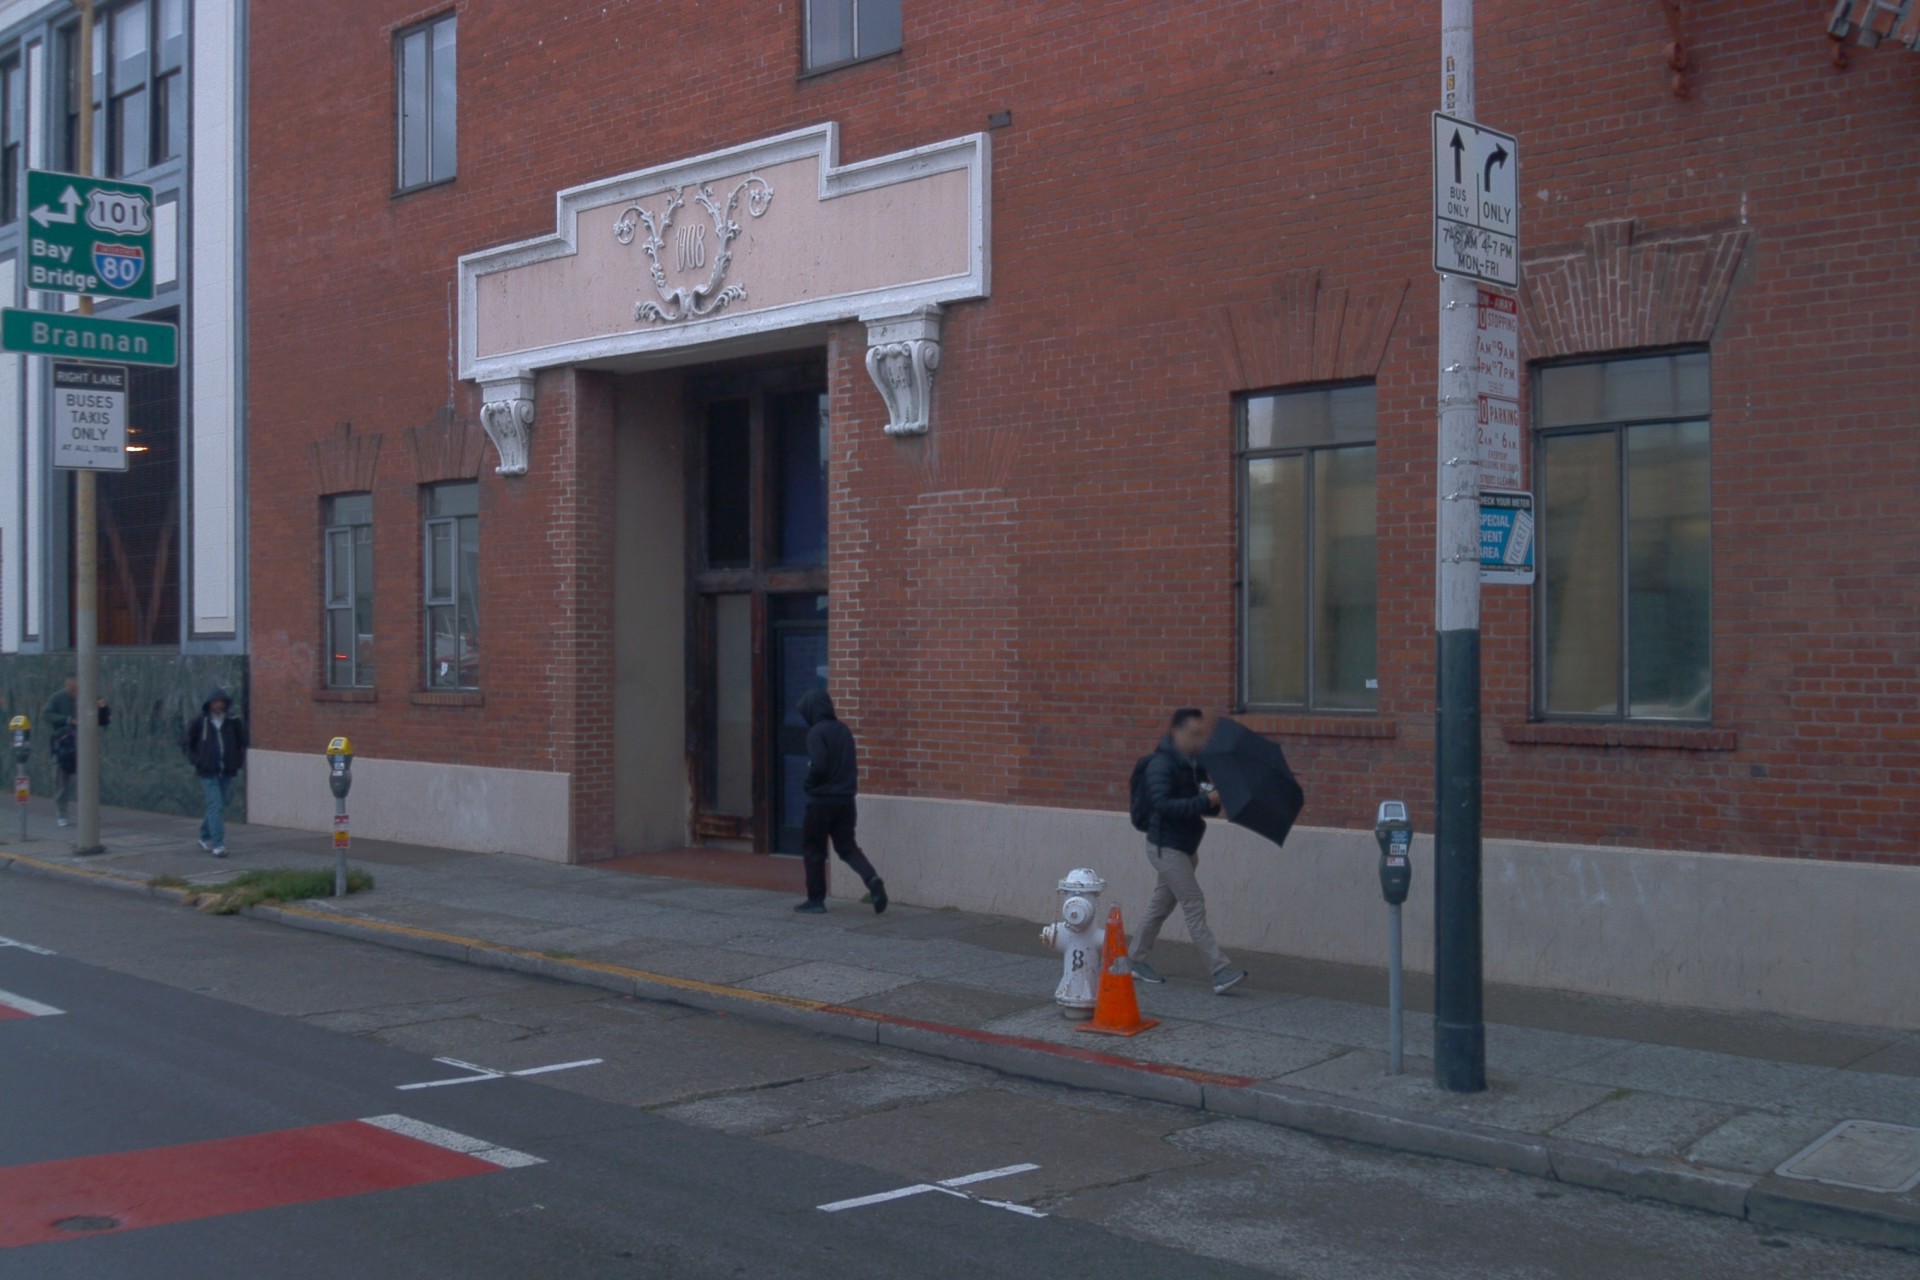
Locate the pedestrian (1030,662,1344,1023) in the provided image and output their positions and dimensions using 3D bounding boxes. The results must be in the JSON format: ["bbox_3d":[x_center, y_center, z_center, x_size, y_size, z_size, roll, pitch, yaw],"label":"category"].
[{"bbox_3d":[1.338,1.124,12.242,1.539,1.970,1.005,0,-1,40],"label":"pedestrian"}]

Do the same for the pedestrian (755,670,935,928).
[{"bbox_3d":[-0.872,1.158,15.614,0.798,1.848,1.126,1,-1,-45],"label":"pedestrian"}]

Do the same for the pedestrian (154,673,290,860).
[{"bbox_3d":[-7.207,1.206,20.210,0.893,1.750,1.042,1,-1,-43],"label":"pedestrian"}]

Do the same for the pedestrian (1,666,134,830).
[{"bbox_3d":[-10.000,1.182,23.179,1.051,1.770,1.159,1,-1,-40],"label":"pedestrian"}]
